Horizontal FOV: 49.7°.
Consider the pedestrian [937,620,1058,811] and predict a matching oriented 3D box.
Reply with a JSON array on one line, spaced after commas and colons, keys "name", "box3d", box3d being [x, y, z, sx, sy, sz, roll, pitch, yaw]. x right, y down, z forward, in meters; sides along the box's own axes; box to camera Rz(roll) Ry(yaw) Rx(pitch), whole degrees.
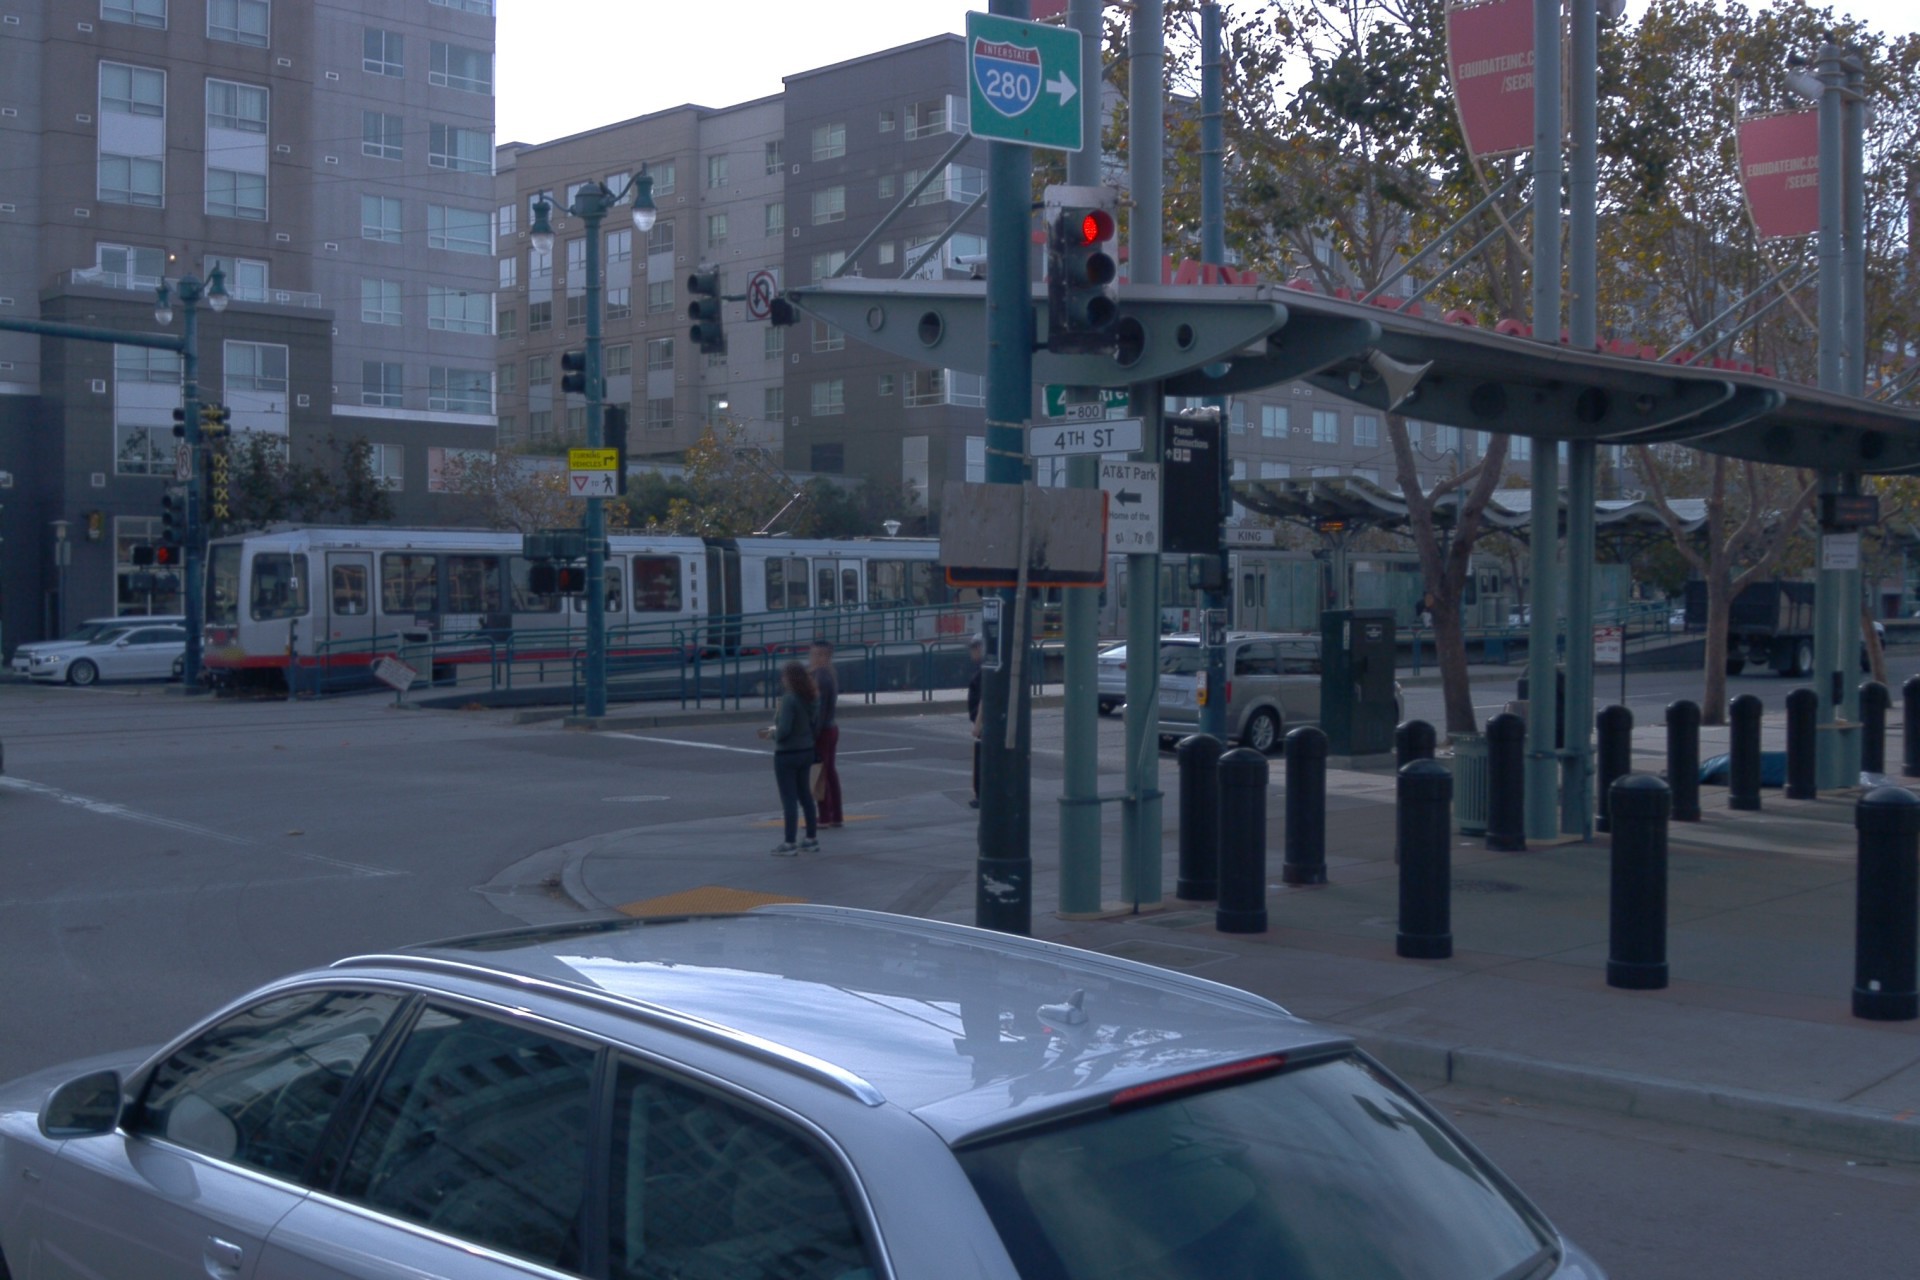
[{"name": "pedestrian", "box3d": [0.381, 0.737, 20.824, 0.867, 1.858, 0.865, 1, 0, 31]}]

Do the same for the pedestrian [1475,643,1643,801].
[{"name": "pedestrian", "box3d": [6.345, 0.850, 21.955, 1.218, 1.605, 1.168, 1, 0, -34]}]

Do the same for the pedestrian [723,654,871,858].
[{"name": "pedestrian", "box3d": [-1.367, 0.945, 17.337, 1.016, 1.642, 0.678, 1, 0, 37]}]

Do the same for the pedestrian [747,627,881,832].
[{"name": "pedestrian", "box3d": [-1.331, 0.804, 19.051, 0.980, 1.819, 0.928, 1, 0, 12]}]

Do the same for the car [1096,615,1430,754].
[{"name": "car", "box3d": [4.616, 0.625, 30.976, 2.289, 1.897, 5.227, 1, 0, 44]}]

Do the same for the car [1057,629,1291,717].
[{"name": "car", "box3d": [3.950, 0.595, 37.734, 1.887, 1.491, 4.382, 1, 0, 45]}]
